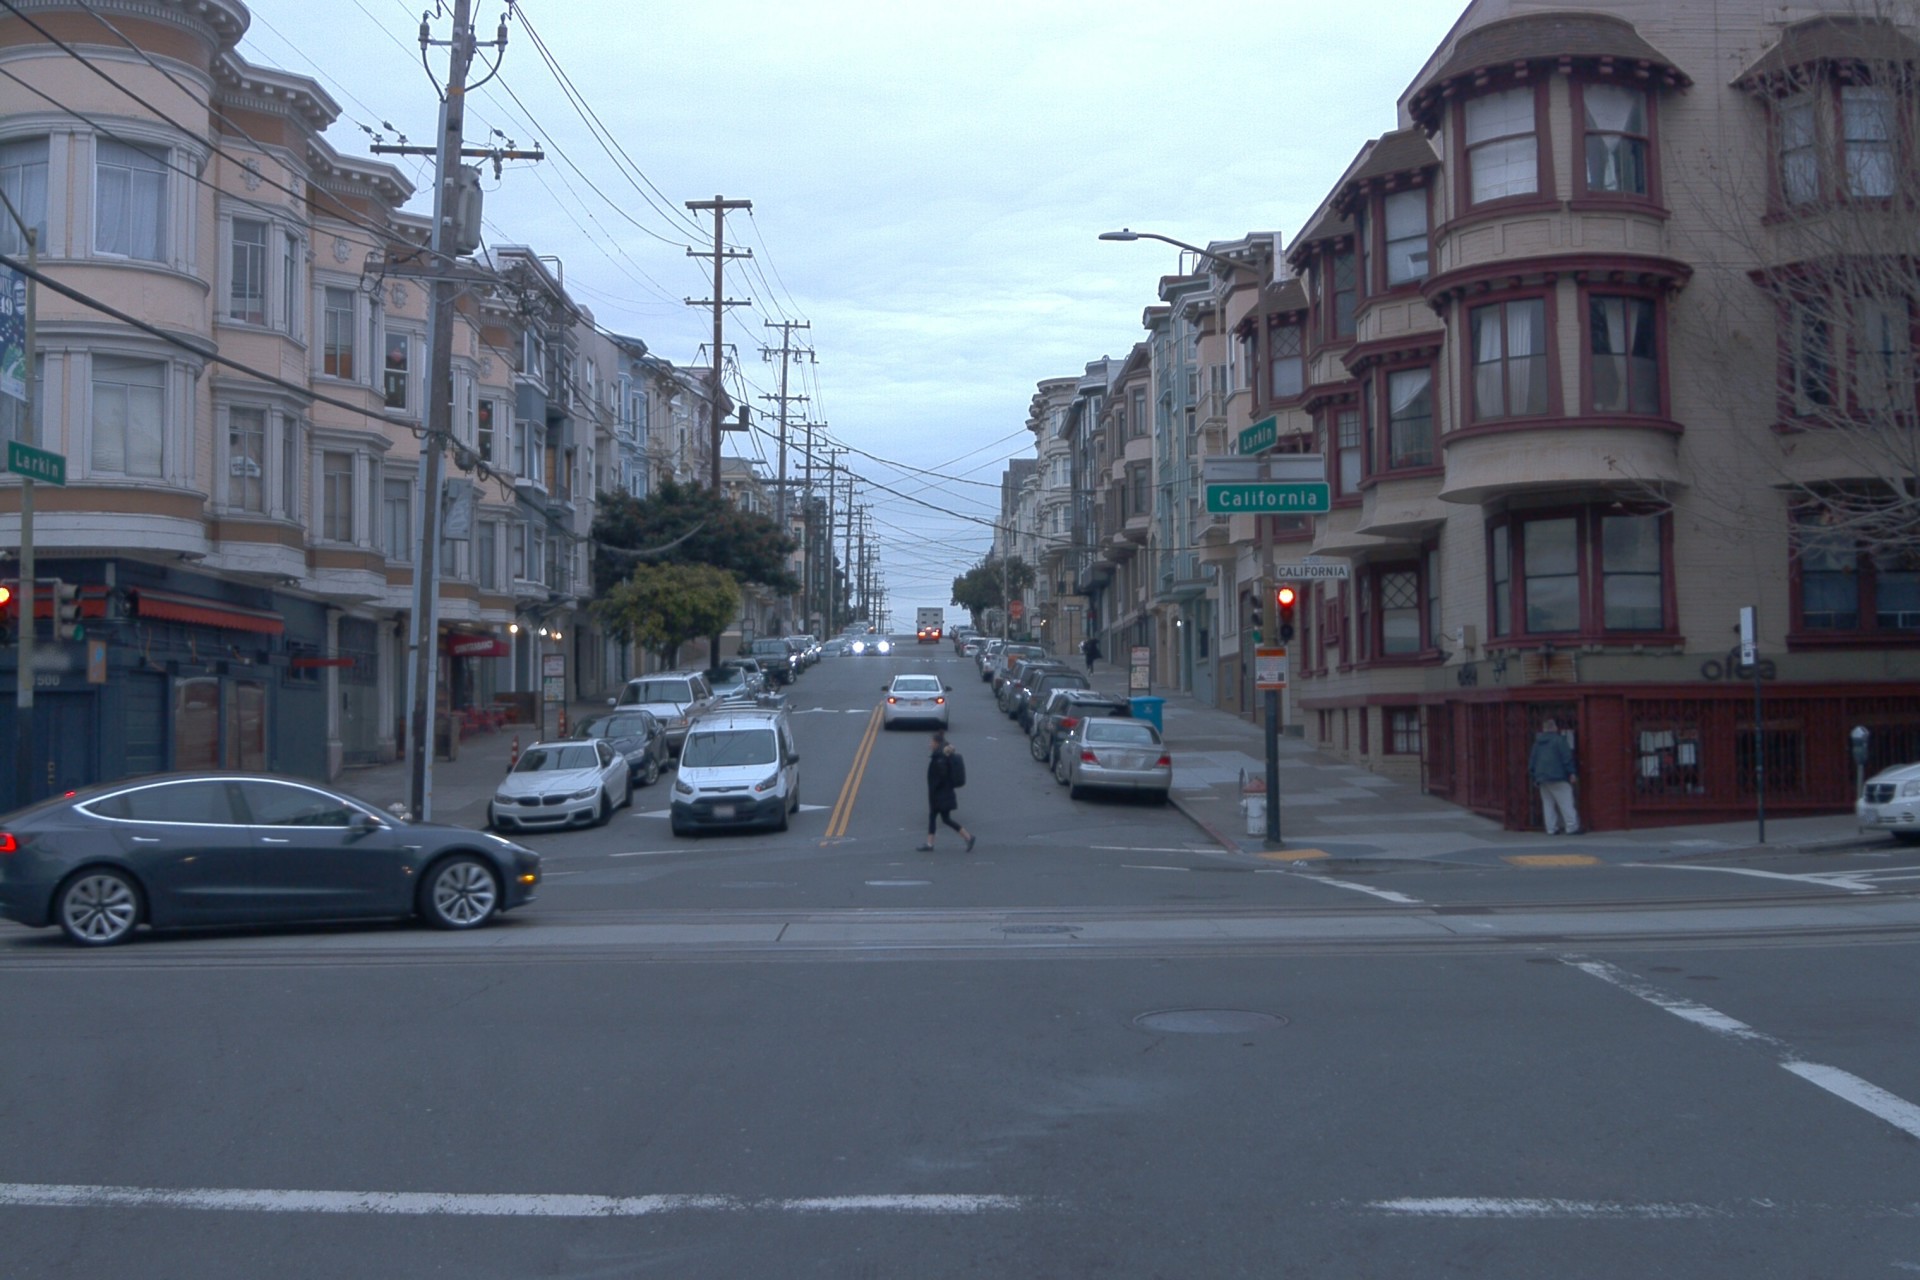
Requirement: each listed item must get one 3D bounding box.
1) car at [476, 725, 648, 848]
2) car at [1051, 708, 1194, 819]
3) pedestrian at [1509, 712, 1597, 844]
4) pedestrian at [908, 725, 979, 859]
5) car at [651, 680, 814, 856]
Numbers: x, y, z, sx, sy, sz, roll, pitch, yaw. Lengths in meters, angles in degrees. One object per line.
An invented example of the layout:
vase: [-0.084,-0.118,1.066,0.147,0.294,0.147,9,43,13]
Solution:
car: [-6.813,2.476,35.707,2.150,1.707,4.680,0,1,-1]
car: [2.936,2.236,38.183,2.108,1.700,4.470,0,1,-2]
pedestrian: [8.727,2.010,30.267,0.902,1.830,0.919,-1,1,-44]
pedestrian: [-0.242,2.147,29.172,0.943,1.820,0.722,0,1,-5]
car: [-3.621,1.990,33.586,2.196,2.490,4.690,0,1,-1]
